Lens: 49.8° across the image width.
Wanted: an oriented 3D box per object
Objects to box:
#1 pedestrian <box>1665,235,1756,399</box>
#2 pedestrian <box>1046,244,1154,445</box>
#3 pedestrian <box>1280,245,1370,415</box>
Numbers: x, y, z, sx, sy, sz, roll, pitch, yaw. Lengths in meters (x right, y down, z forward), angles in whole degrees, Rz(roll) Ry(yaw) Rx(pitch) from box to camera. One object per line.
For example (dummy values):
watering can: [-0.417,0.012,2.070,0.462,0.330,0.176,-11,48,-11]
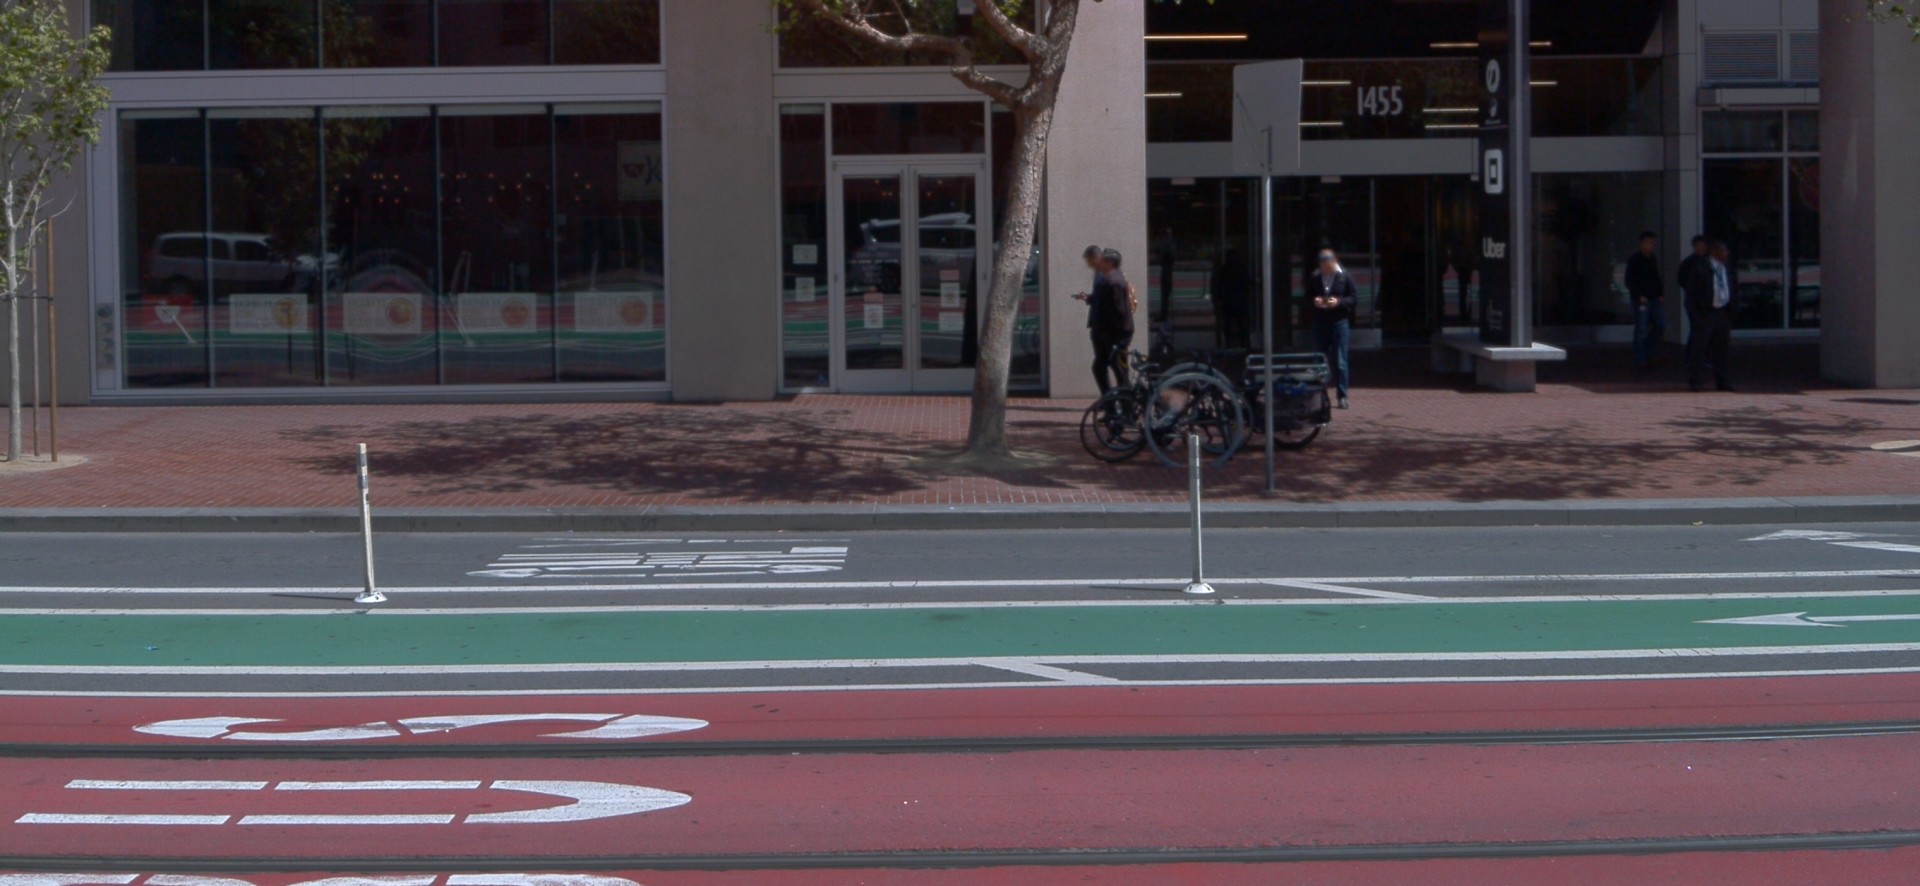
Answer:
pedestrian: [8.687,-1.475,23.954,0.814,1.856,0.802,0,2,6]
pedestrian: [1.444,-1.032,21.285,1.076,2.006,0.782,0,2,5]
pedestrian: [4.027,-1.270,22.781,0.740,1.816,0.739,1,2,34]
